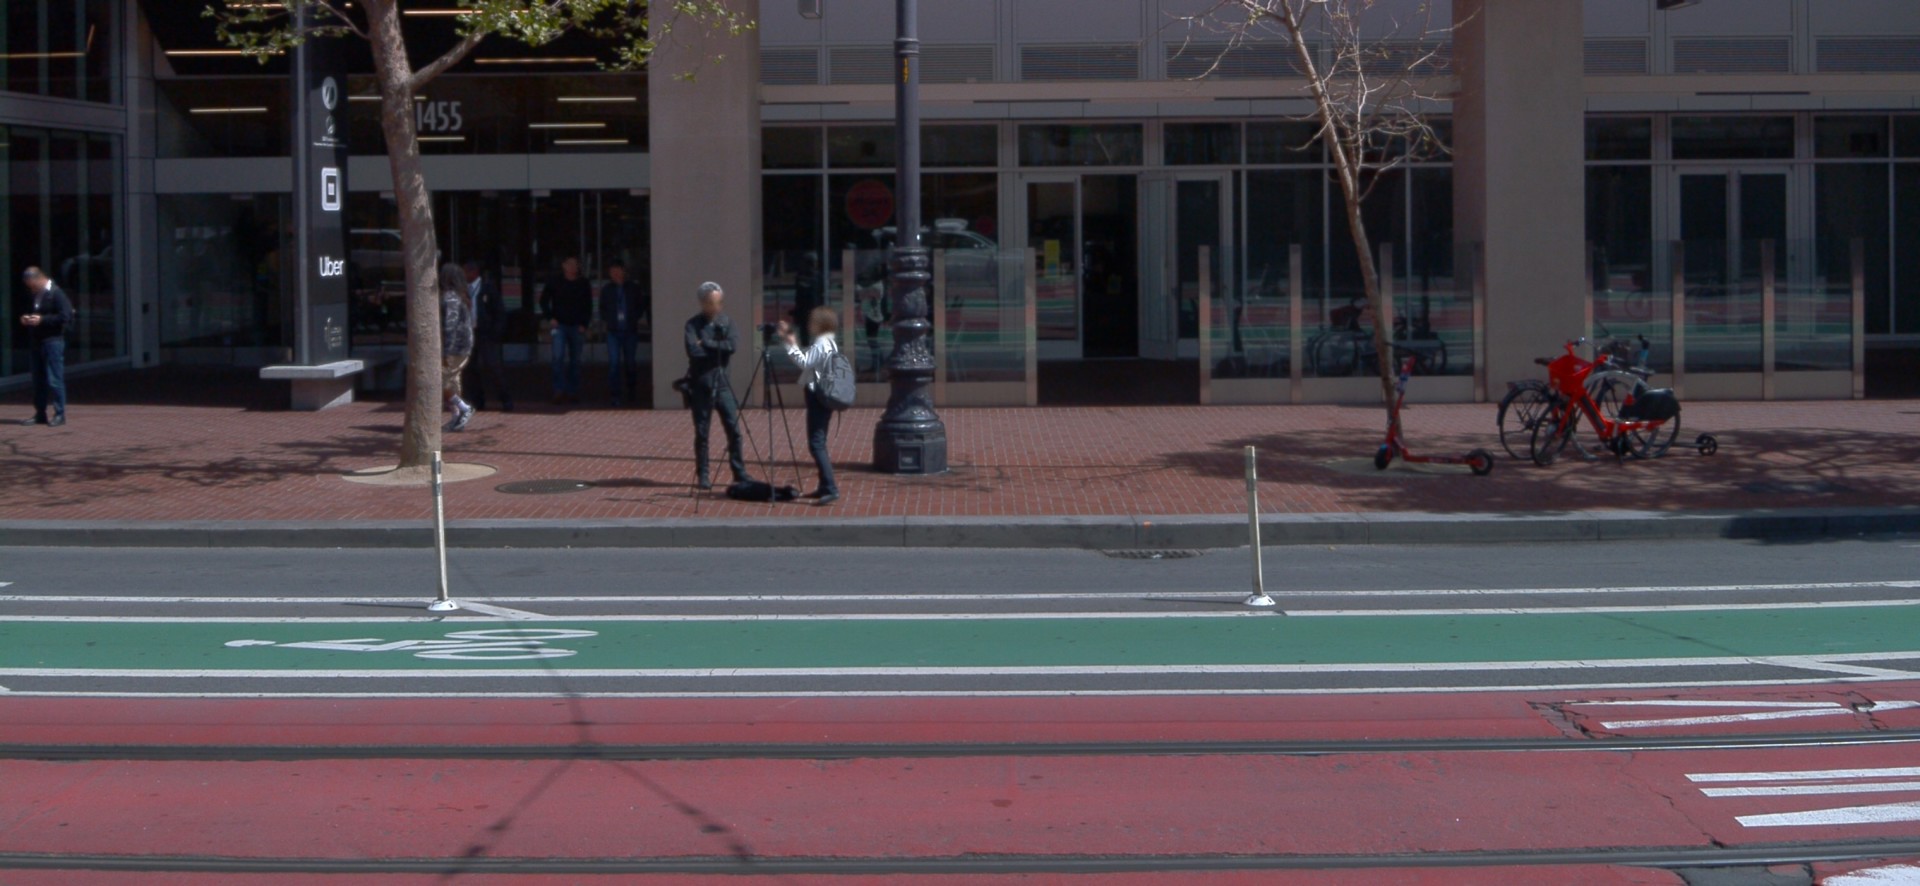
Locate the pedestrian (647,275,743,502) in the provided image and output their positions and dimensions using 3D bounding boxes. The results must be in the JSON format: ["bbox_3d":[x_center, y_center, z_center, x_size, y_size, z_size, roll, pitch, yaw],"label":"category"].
[{"bbox_3d":[-2.299,-0.499,17.866,0.759,1.876,0.809,-1,2,-10],"label":"pedestrian"}]

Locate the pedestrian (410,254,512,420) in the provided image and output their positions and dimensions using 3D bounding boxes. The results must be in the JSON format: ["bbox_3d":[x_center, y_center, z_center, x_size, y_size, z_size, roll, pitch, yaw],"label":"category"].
[{"bbox_3d":[-5.740,-1.239,23.811,0.815,1.856,0.801,0,2,21],"label":"pedestrian"}]

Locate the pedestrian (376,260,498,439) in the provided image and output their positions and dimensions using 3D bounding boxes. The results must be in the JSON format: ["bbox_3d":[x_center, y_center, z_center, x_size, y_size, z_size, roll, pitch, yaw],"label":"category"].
[{"bbox_3d":[-5.572,-1.019,22.073,1.164,1.826,0.845,-1,2,-9],"label":"pedestrian"}]

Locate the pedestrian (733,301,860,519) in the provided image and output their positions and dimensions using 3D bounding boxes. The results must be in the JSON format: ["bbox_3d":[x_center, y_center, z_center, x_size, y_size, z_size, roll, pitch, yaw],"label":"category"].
[{"bbox_3d":[-1.361,-0.303,17.158,0.673,1.706,0.818,-2,3,-42],"label":"pedestrian"}]
